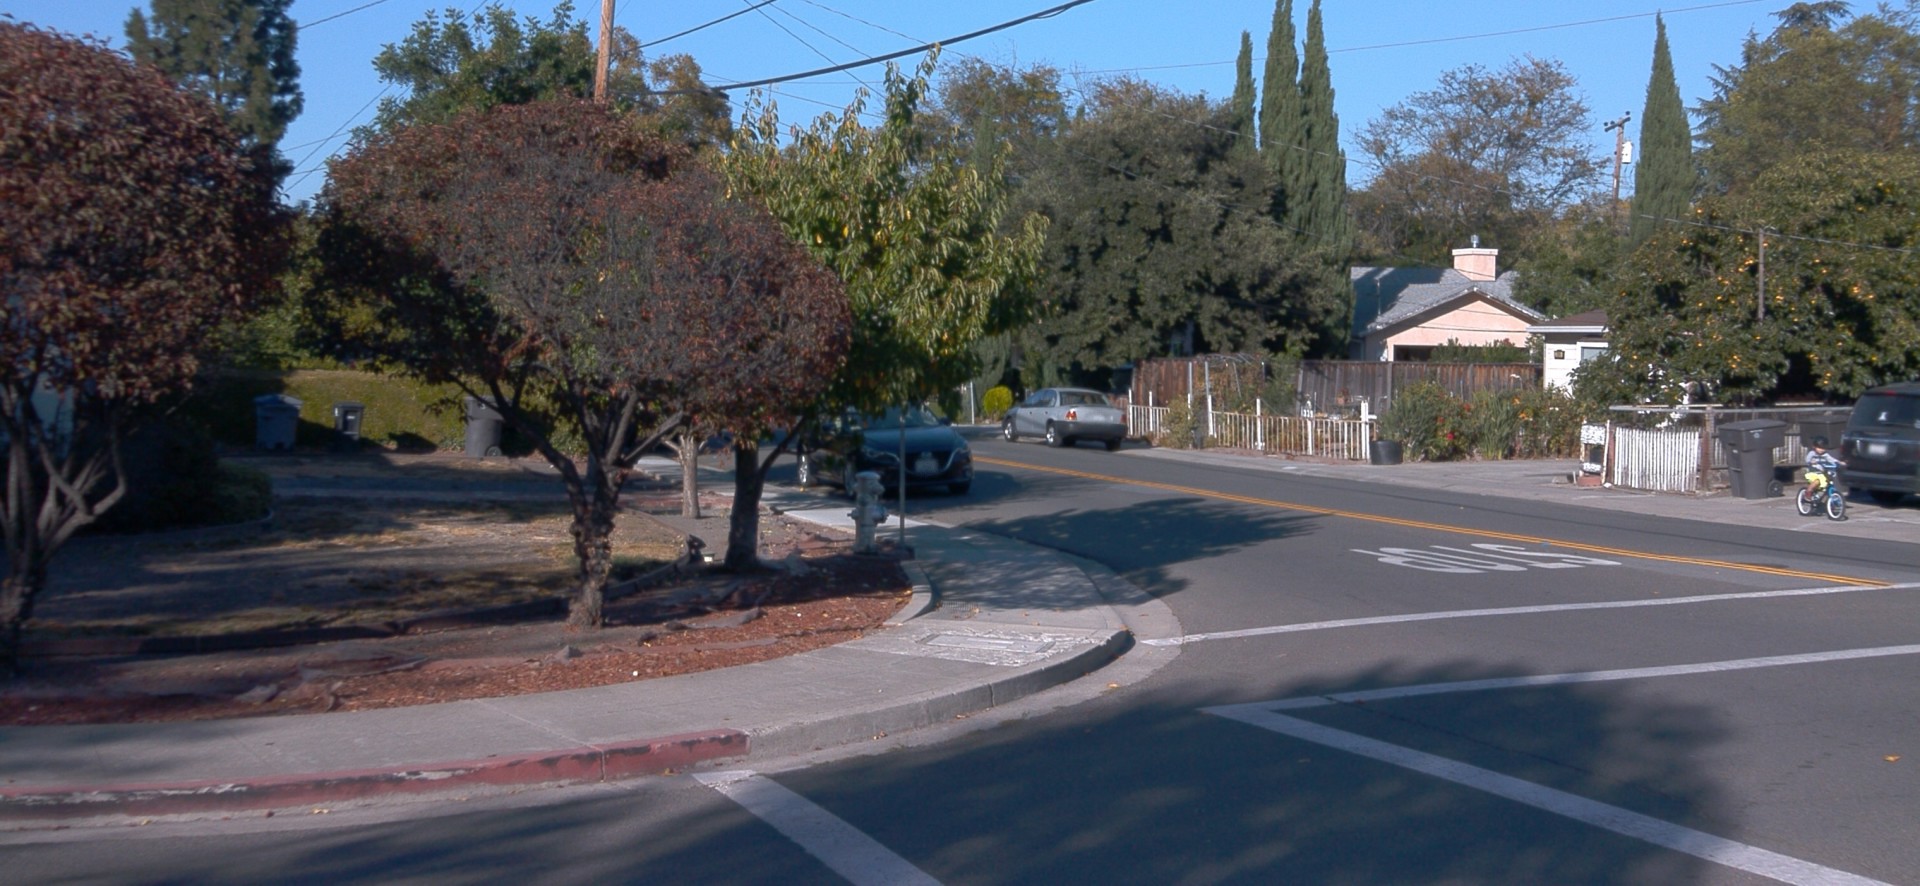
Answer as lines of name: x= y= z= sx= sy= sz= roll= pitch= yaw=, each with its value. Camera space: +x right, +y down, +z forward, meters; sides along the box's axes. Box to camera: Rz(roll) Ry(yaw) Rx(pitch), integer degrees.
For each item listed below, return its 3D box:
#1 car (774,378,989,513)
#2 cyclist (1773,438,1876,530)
car: x=-1.294 y=-0.048 z=31.681 sx=2.032 sy=1.554 sz=4.626 roll=-1 pitch=5 yaw=-19
cyclist: x=11.444 y=0.533 z=27.401 sx=0.646 sy=1.058 sz=1.211 roll=0 pitch=4 yaw=-16
